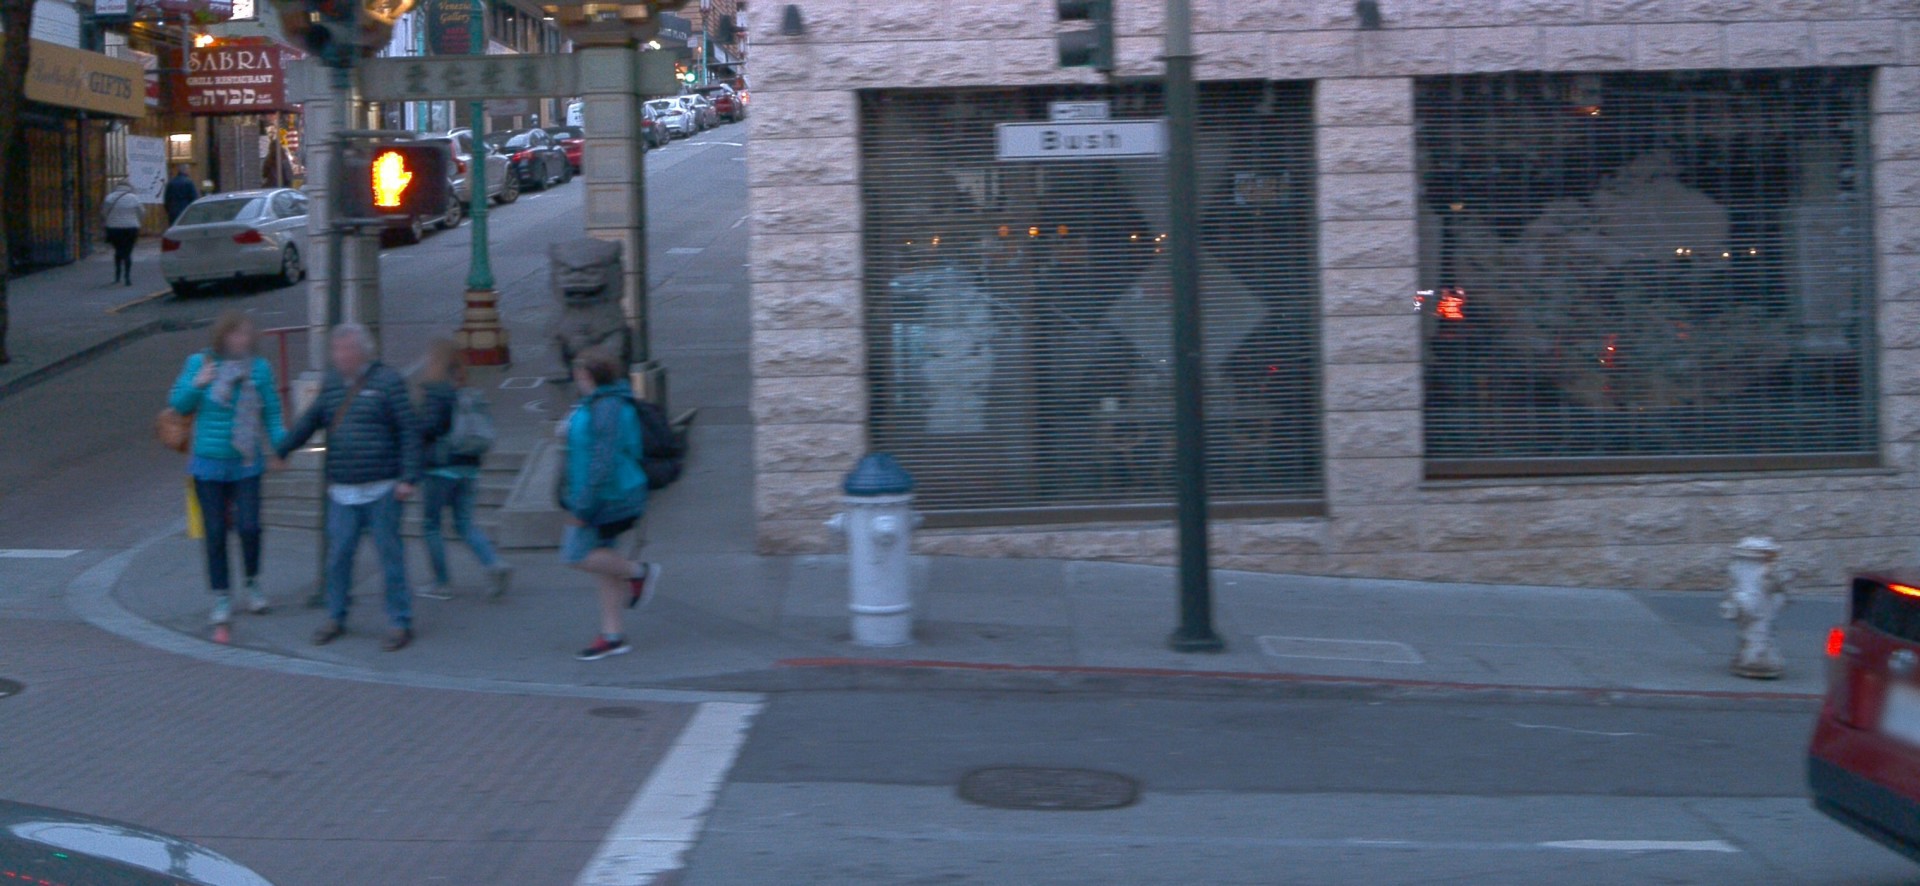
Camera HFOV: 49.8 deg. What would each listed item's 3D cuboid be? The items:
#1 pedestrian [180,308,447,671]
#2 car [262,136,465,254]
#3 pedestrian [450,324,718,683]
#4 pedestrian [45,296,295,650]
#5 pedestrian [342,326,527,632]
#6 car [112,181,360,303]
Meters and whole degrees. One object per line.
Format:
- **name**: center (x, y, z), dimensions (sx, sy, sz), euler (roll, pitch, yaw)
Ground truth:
- **pedestrian**: center (-3.510, 0.201, 11.289), dimensions (0.963, 1.816, 1.005), euler (0, 3, 19)
- **car**: center (-10.627, -4.451, 37.227), dimensions (2.229, 1.960, 4.596), euler (0, 6, 1)
- **pedestrian**: center (-1.991, 0.263, 10.981), dimensions (0.977, 1.706, 0.988), euler (2, 3, 41)
- **pedestrian**: center (-4.405, 0.124, 11.583), dimensions (0.925, 1.846, 0.939), euler (0, 2, 11)
- **pedestrian**: center (-3.097, 0.170, 12.166), dimensions (0.752, 1.657, 0.823), euler (-2, 3, -39)
- **car**: center (-10.810, -3.080, 31.245), dimensions (2.091, 1.681, 4.479), euler (0, 6, 1)
